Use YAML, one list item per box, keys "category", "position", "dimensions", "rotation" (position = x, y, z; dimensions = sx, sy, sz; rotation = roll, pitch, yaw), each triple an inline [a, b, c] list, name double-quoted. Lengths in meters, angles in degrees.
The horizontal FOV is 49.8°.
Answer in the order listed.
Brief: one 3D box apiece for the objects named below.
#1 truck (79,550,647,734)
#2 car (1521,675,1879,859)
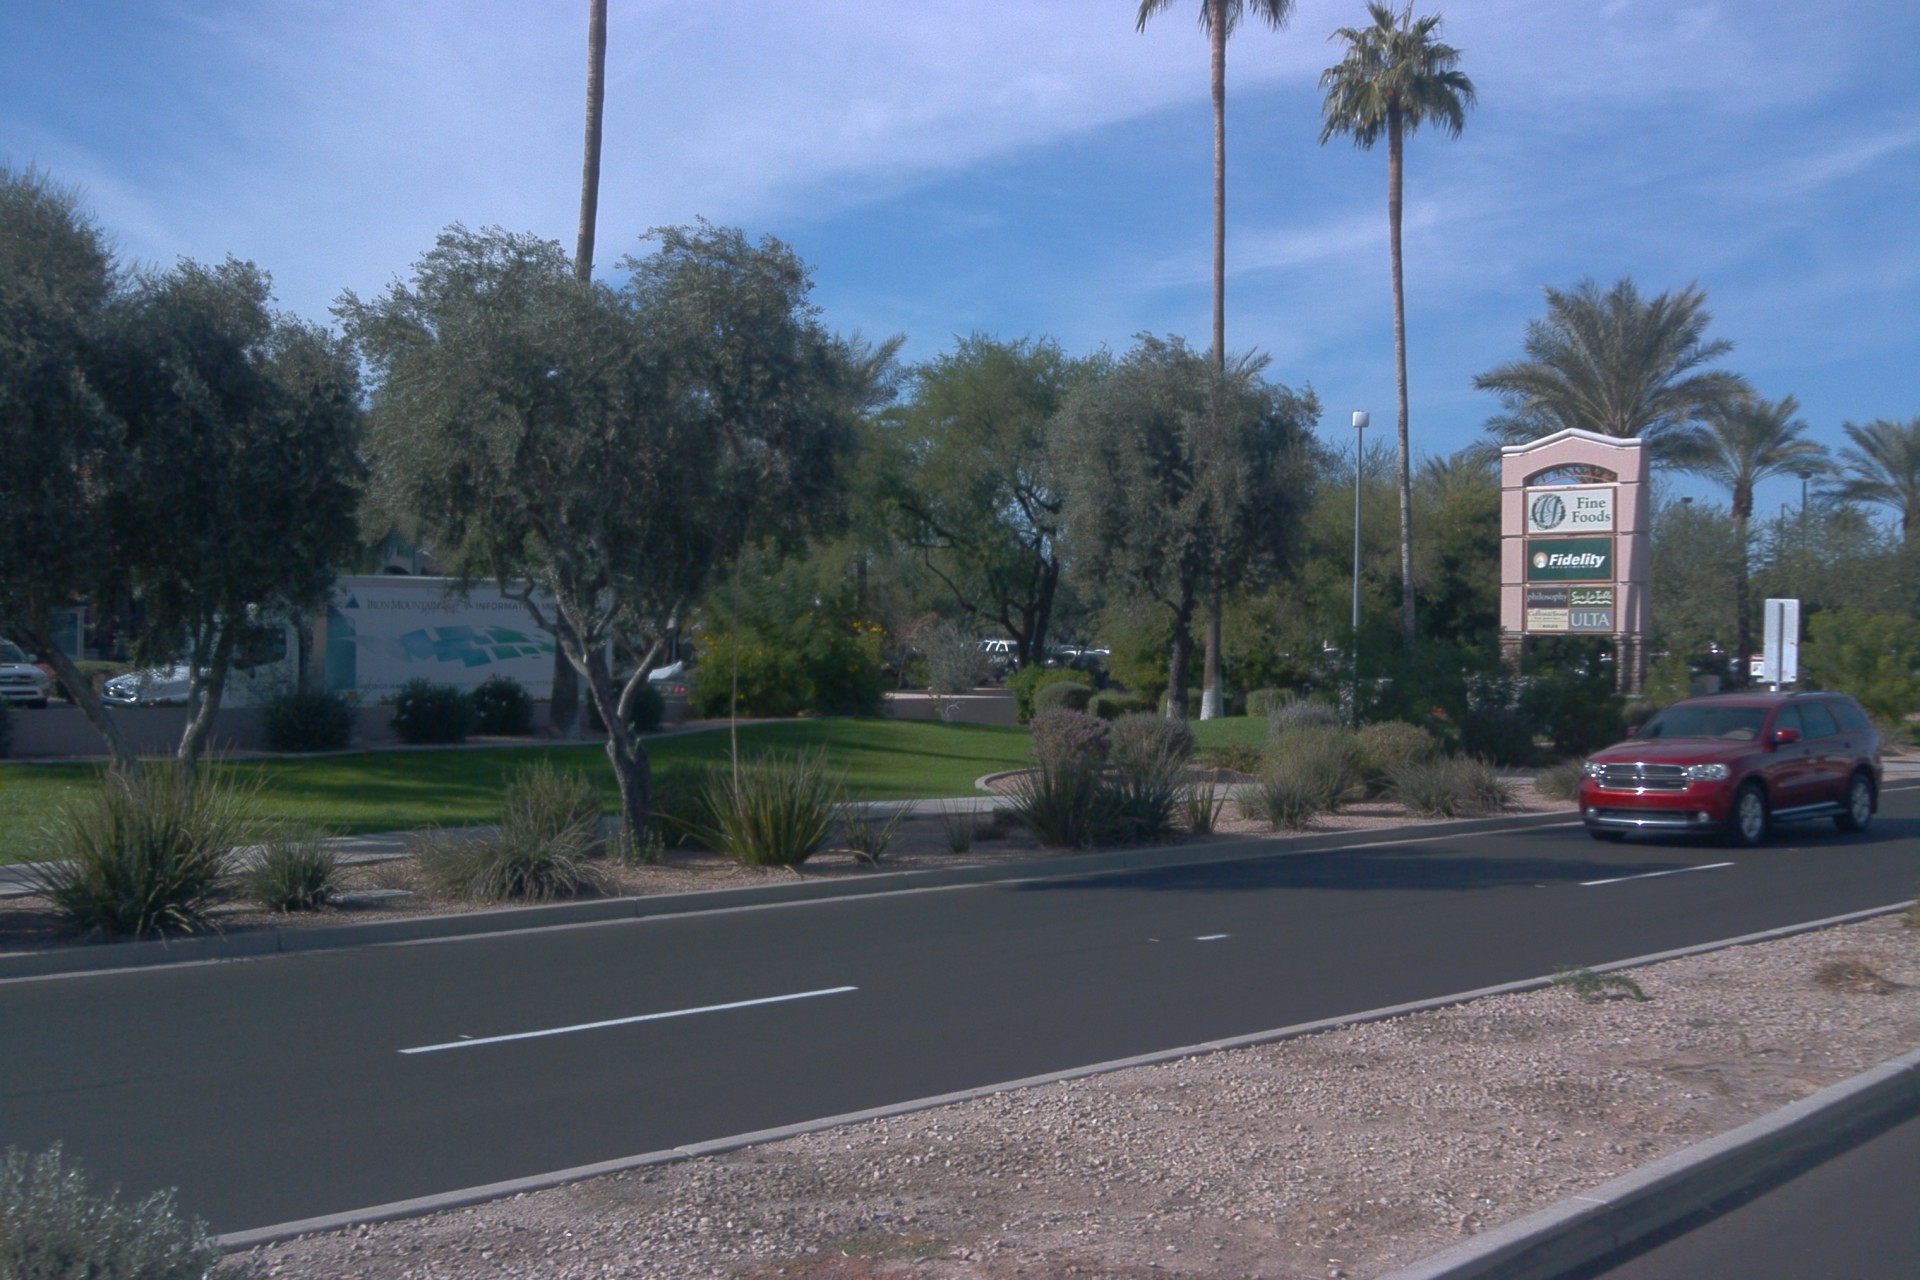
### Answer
- category: "truck"
  position: [-10.406, 0.055, 37.195]
  dimensions: [3.150, 2.900, 9.529]
  rotation: [1, 0, 43]
- category: "car"
  position: [9.040, 1.427, 25.002]
  dimensions: [4.949, 1.940, 2.136]
  rotation: [1, 0, -45]
